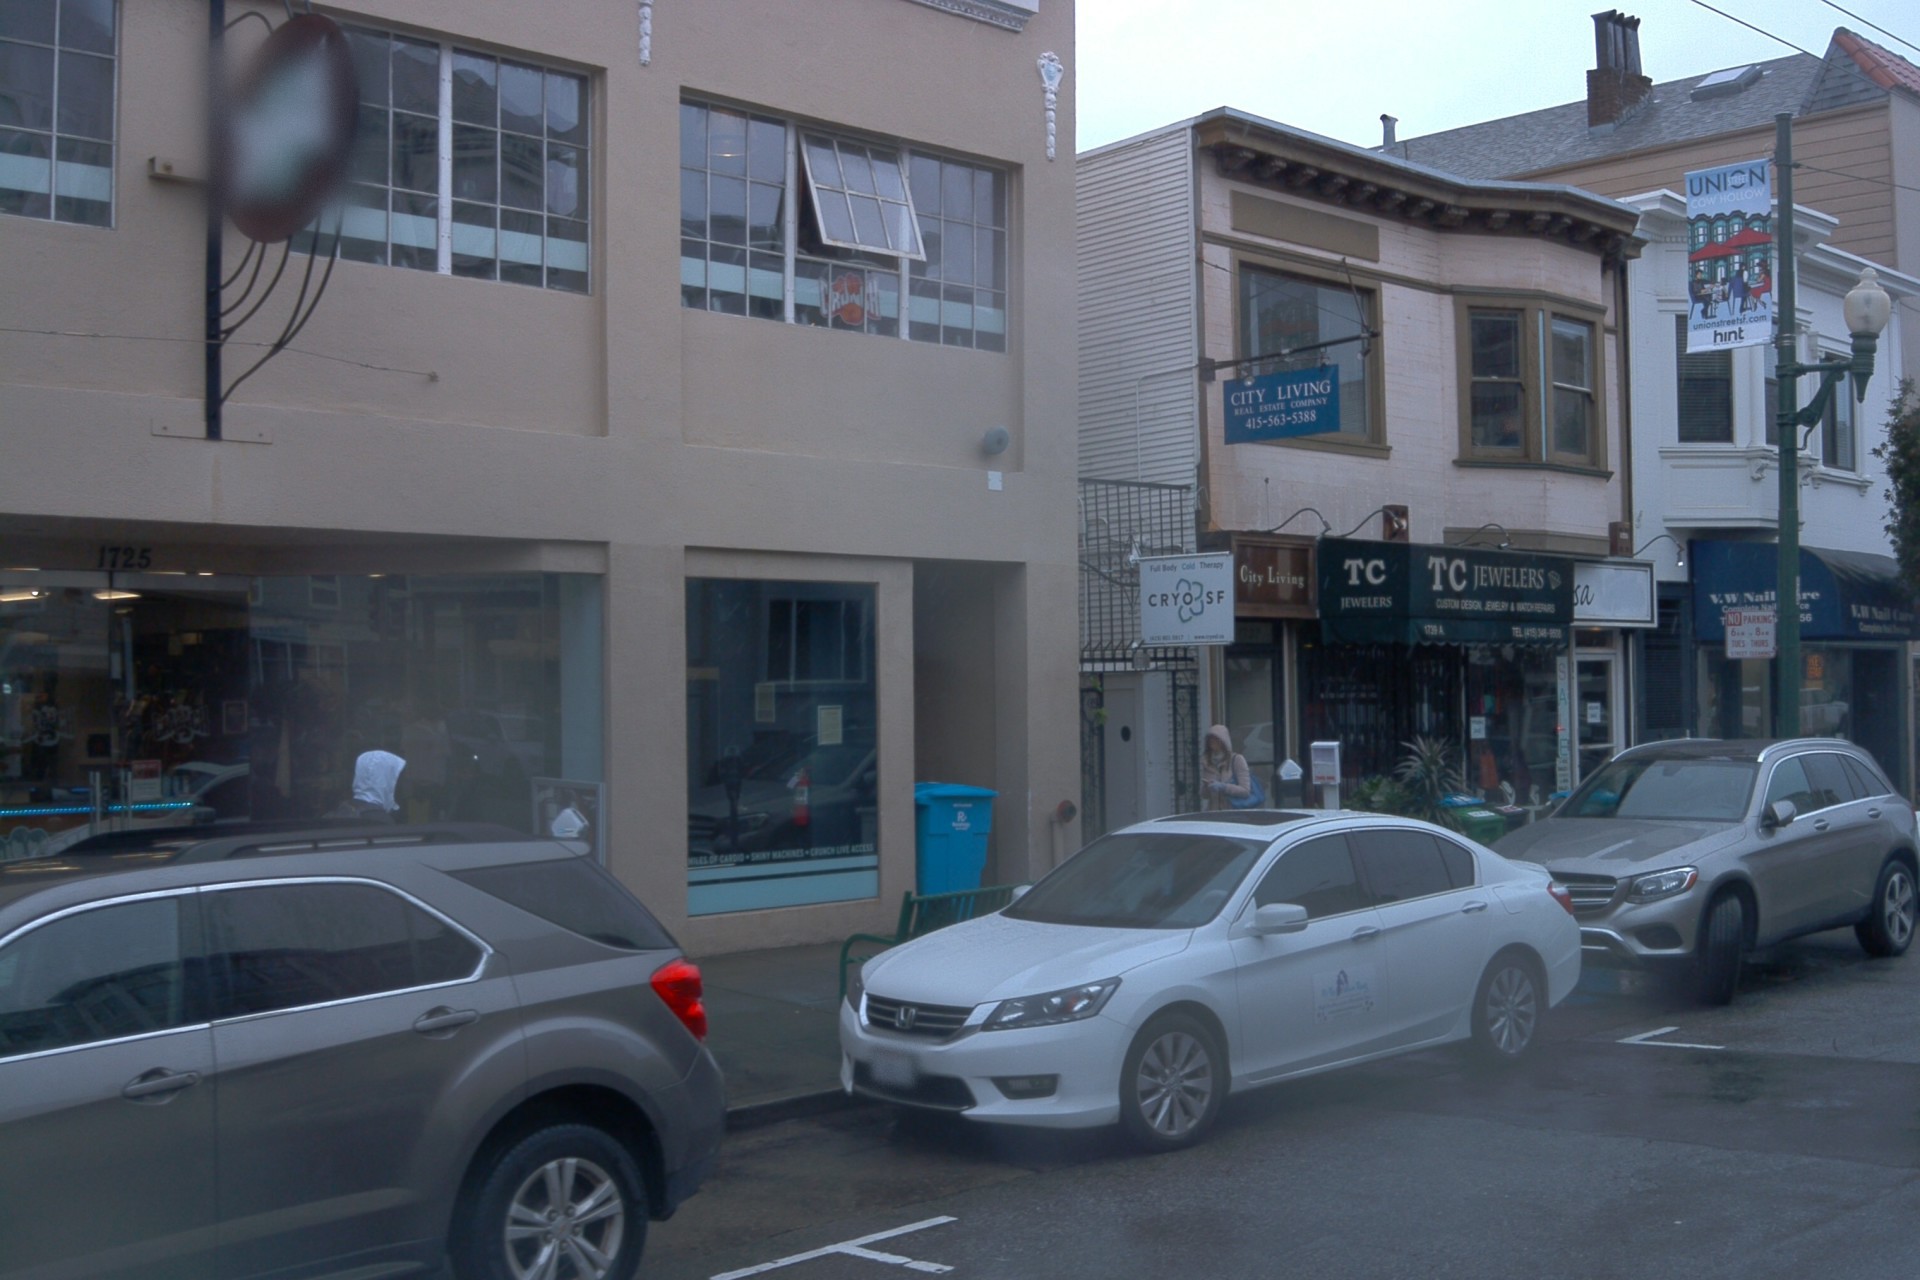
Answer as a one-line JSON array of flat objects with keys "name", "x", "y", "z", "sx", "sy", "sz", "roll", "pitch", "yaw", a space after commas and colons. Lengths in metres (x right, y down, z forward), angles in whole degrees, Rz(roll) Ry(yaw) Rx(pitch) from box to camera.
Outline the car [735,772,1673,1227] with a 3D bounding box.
[{"name": "car", "x": 1.522, "y": 1.656, "z": 11.103, "sx": 5.148, "sy": 1.540, "sz": 2.124, "roll": 0, "pitch": 1, "yaw": -42}]

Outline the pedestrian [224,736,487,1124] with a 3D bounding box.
[{"name": "pedestrian", "x": -3.080, "y": 1.422, "z": 10.550, "sx": 1.056, "sy": 1.800, "sz": 0.729, "roll": 0, "pitch": 1, "yaw": -44}]

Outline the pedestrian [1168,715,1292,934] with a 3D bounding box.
[{"name": "pedestrian", "x": 2.247, "y": 1.509, "z": 17.225, "sx": 0.646, "sy": 1.720, "sz": 0.803, "roll": 2, "pitch": 1, "yaw": 44}]
